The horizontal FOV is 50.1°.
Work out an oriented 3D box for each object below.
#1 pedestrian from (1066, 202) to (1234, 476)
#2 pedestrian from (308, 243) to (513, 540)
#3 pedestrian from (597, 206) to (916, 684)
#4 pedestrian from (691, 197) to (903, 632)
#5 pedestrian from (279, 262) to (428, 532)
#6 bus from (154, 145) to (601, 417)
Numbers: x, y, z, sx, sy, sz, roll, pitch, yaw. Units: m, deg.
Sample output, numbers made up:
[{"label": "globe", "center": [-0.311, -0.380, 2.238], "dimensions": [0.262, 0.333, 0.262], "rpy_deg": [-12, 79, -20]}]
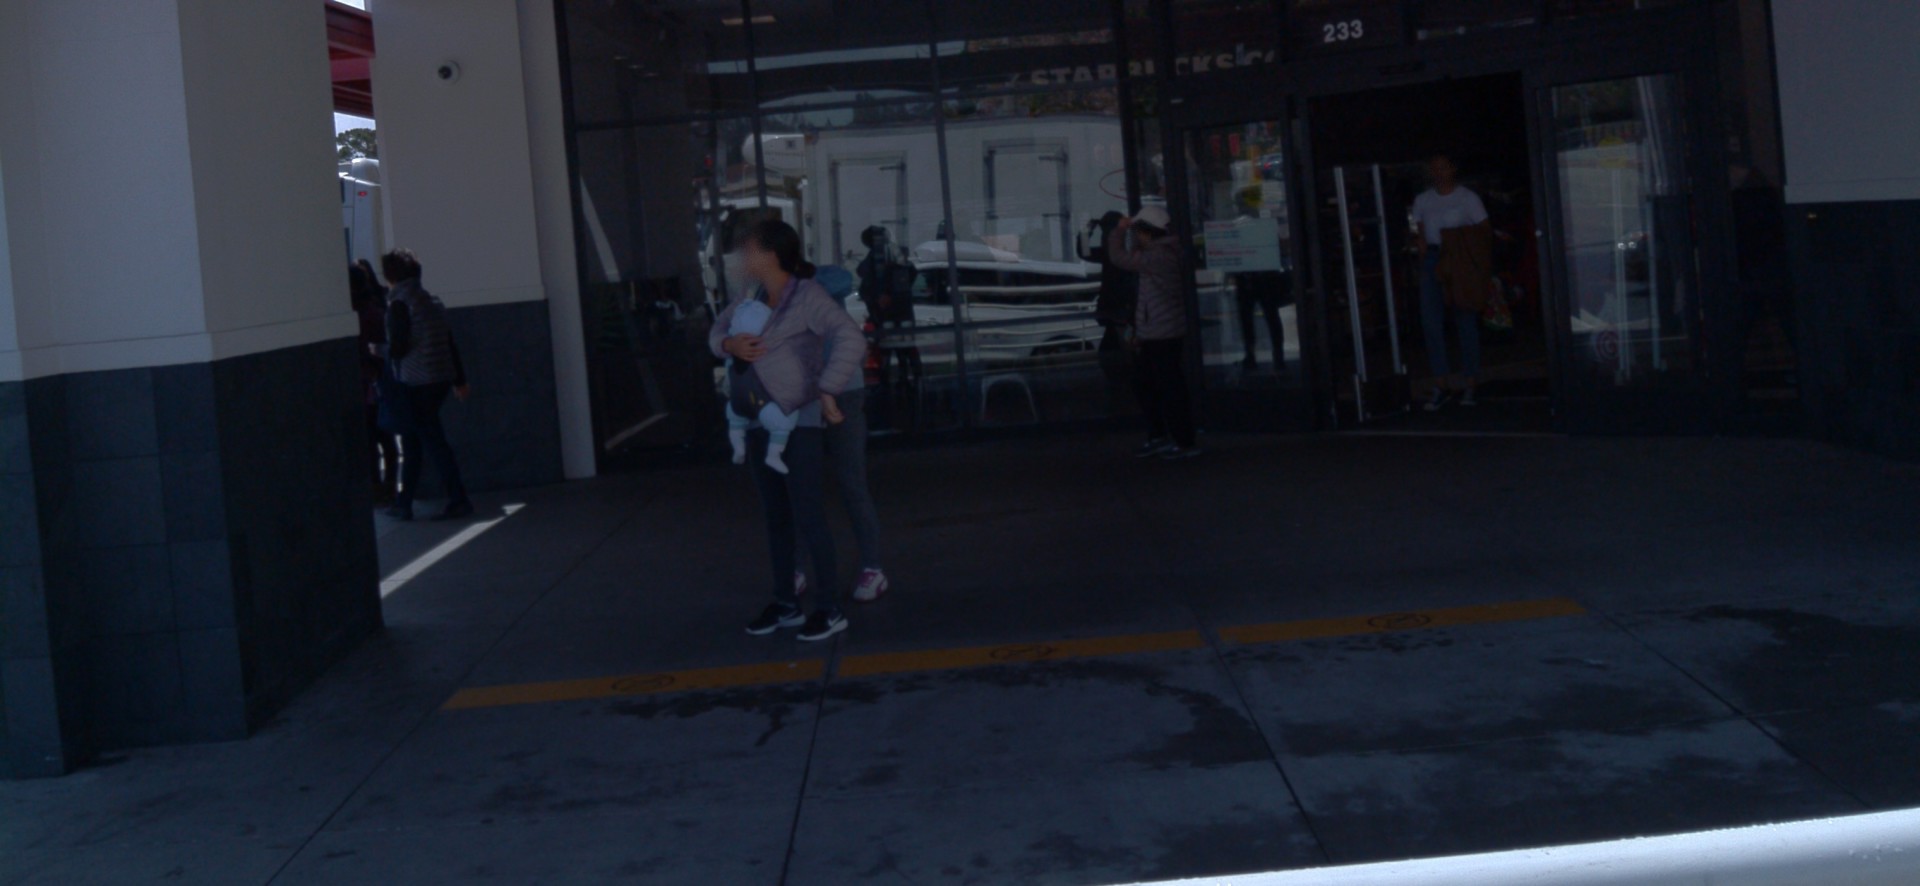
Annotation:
[{"label": "pedestrian", "center": [1.125, -0.647, 12.344], "dimensions": [0.965, 1.579, 0.958], "rpy_deg": [0, 2, 3]}, {"label": "pedestrian", "center": [-3.277, -0.347, 12.305], "dimensions": [0.831, 1.699, 0.889], "rpy_deg": [0, 1, 18]}, {"label": "pedestrian", "center": [-0.737, -0.047, 7.846], "dimensions": [1.072, 1.699, 1.067], "rpy_deg": [0, 2, 2]}, {"label": "pedestrian", "center": [-0.654, -0.158, 8.455], "dimensions": [0.823, 1.689, 0.883], "rpy_deg": [0, 1, -3]}, {"label": "pedestrian", "center": [-3.965, -0.336, 13.408], "dimensions": [0.815, 1.679, 0.819], "rpy_deg": [-1, 1, -25]}, {"label": "bus", "center": [-8.630, -2.793, 33.376], "dimensions": [3.021, 3.394, 15.307], "rpy_deg": [0, 5, 0]}]
